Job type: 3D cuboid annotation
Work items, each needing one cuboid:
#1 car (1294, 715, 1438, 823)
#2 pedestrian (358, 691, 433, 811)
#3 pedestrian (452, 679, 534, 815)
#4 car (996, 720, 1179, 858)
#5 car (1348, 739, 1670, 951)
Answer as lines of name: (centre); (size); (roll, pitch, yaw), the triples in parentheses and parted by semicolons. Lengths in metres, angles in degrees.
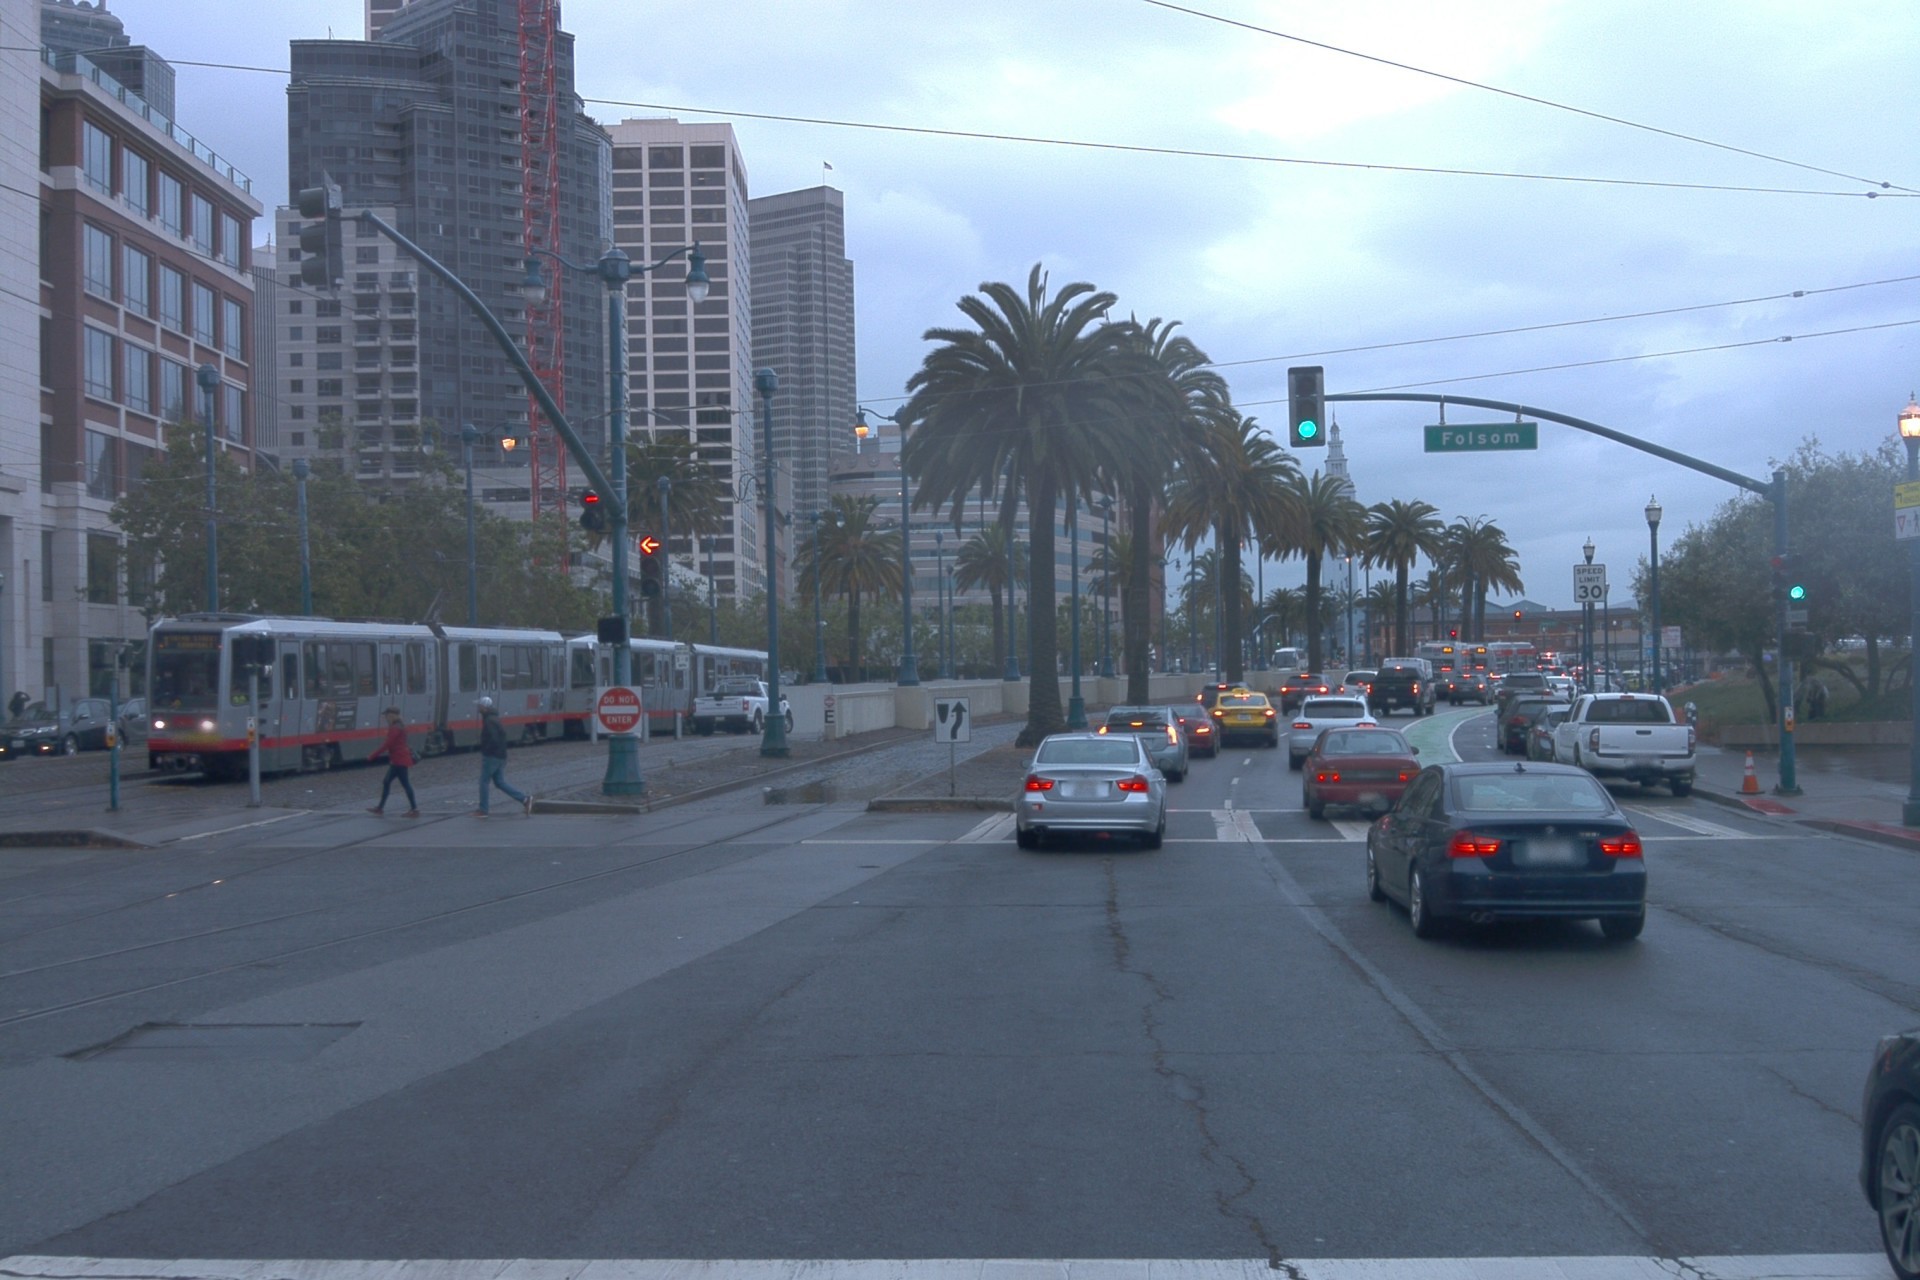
car: (6.151, 1.927, 31.801); (1.923, 1.450, 3.945); (0, -1, 8)
pedestrian: (-8.495, 1.661, 31.250); (0.991, 1.770, 0.825); (0, -1, -8)
pedestrian: (-7.038, 1.592, 31.237); (1.182, 2.000, 0.824); (0, -1, -15)
car: (1.746, 1.844, 26.769); (2.066, 1.510, 4.627); (0, -1, 7)
car: (4.556, 1.652, 17.862); (1.869, 1.450, 4.345); (0, -1, 4)
